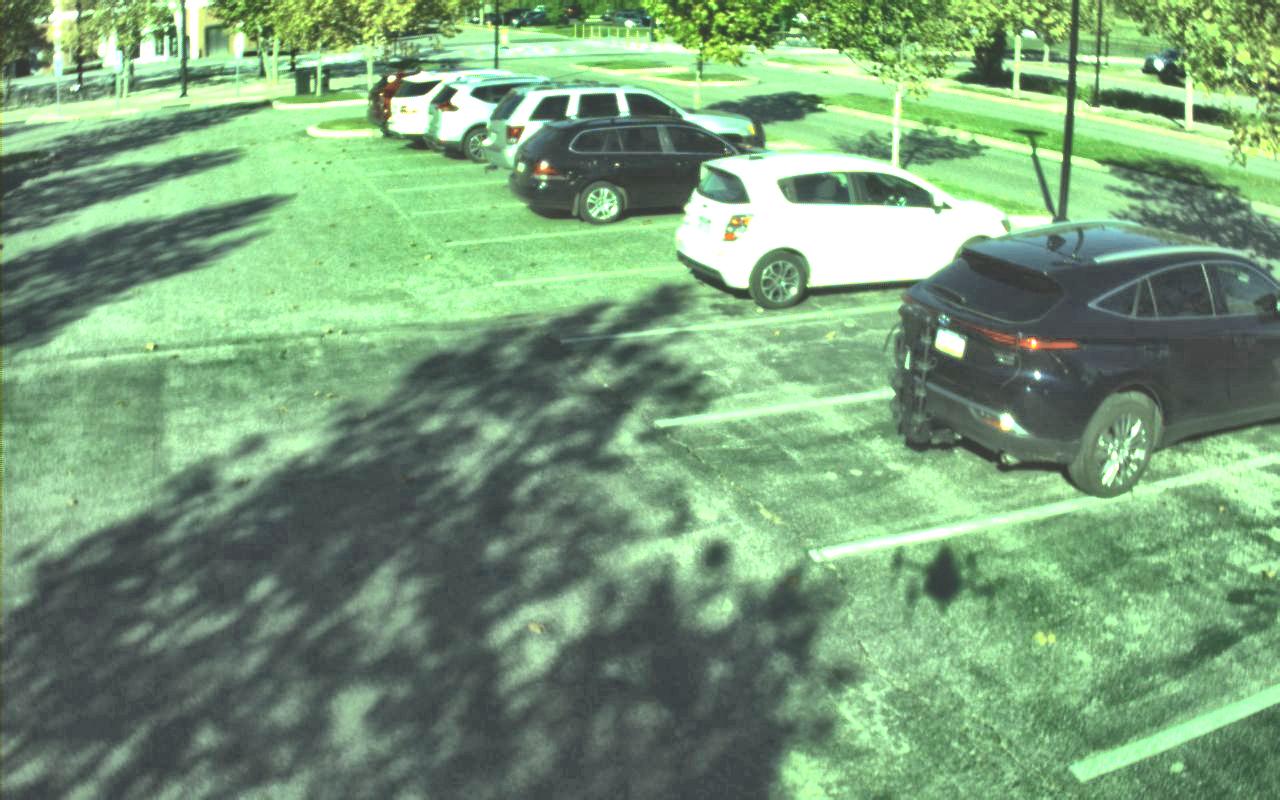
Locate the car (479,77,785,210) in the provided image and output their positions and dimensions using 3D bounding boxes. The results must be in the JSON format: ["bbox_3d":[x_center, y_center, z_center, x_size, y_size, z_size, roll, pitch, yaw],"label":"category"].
[{"bbox_3d":[-0.151,-4.423,21.051,4.776,1.872,2.059,-7,17,-18],"label":"car"}]

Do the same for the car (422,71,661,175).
[{"bbox_3d":[-2.076,-5.780,25.617,4.593,1.785,1.999,-7,17,-18],"label":"car"}]

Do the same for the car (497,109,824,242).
[{"bbox_3d":[0.300,-3.428,18.639,4.501,1.557,1.936,-7,17,-19],"label":"car"}]

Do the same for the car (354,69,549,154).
[{"bbox_3d":[-4.707,-7.149,30.321,4.515,1.728,1.997,-7,17,-20],"label":"car"}]

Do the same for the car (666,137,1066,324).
[{"bbox_3d":[2.604,-2.044,14.072,4.229,1.627,1.898,-7,17,-19],"label":"car"}]

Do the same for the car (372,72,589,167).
[{"bbox_3d":[-3.626,-6.354,27.750,4.559,1.765,2.001,-7,17,-19],"label":"car"}]

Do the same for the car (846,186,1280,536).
[{"bbox_3d":[4.002,-0.565,9.059,4.613,1.747,1.990,-9,18,-24],"label":"car"}]
